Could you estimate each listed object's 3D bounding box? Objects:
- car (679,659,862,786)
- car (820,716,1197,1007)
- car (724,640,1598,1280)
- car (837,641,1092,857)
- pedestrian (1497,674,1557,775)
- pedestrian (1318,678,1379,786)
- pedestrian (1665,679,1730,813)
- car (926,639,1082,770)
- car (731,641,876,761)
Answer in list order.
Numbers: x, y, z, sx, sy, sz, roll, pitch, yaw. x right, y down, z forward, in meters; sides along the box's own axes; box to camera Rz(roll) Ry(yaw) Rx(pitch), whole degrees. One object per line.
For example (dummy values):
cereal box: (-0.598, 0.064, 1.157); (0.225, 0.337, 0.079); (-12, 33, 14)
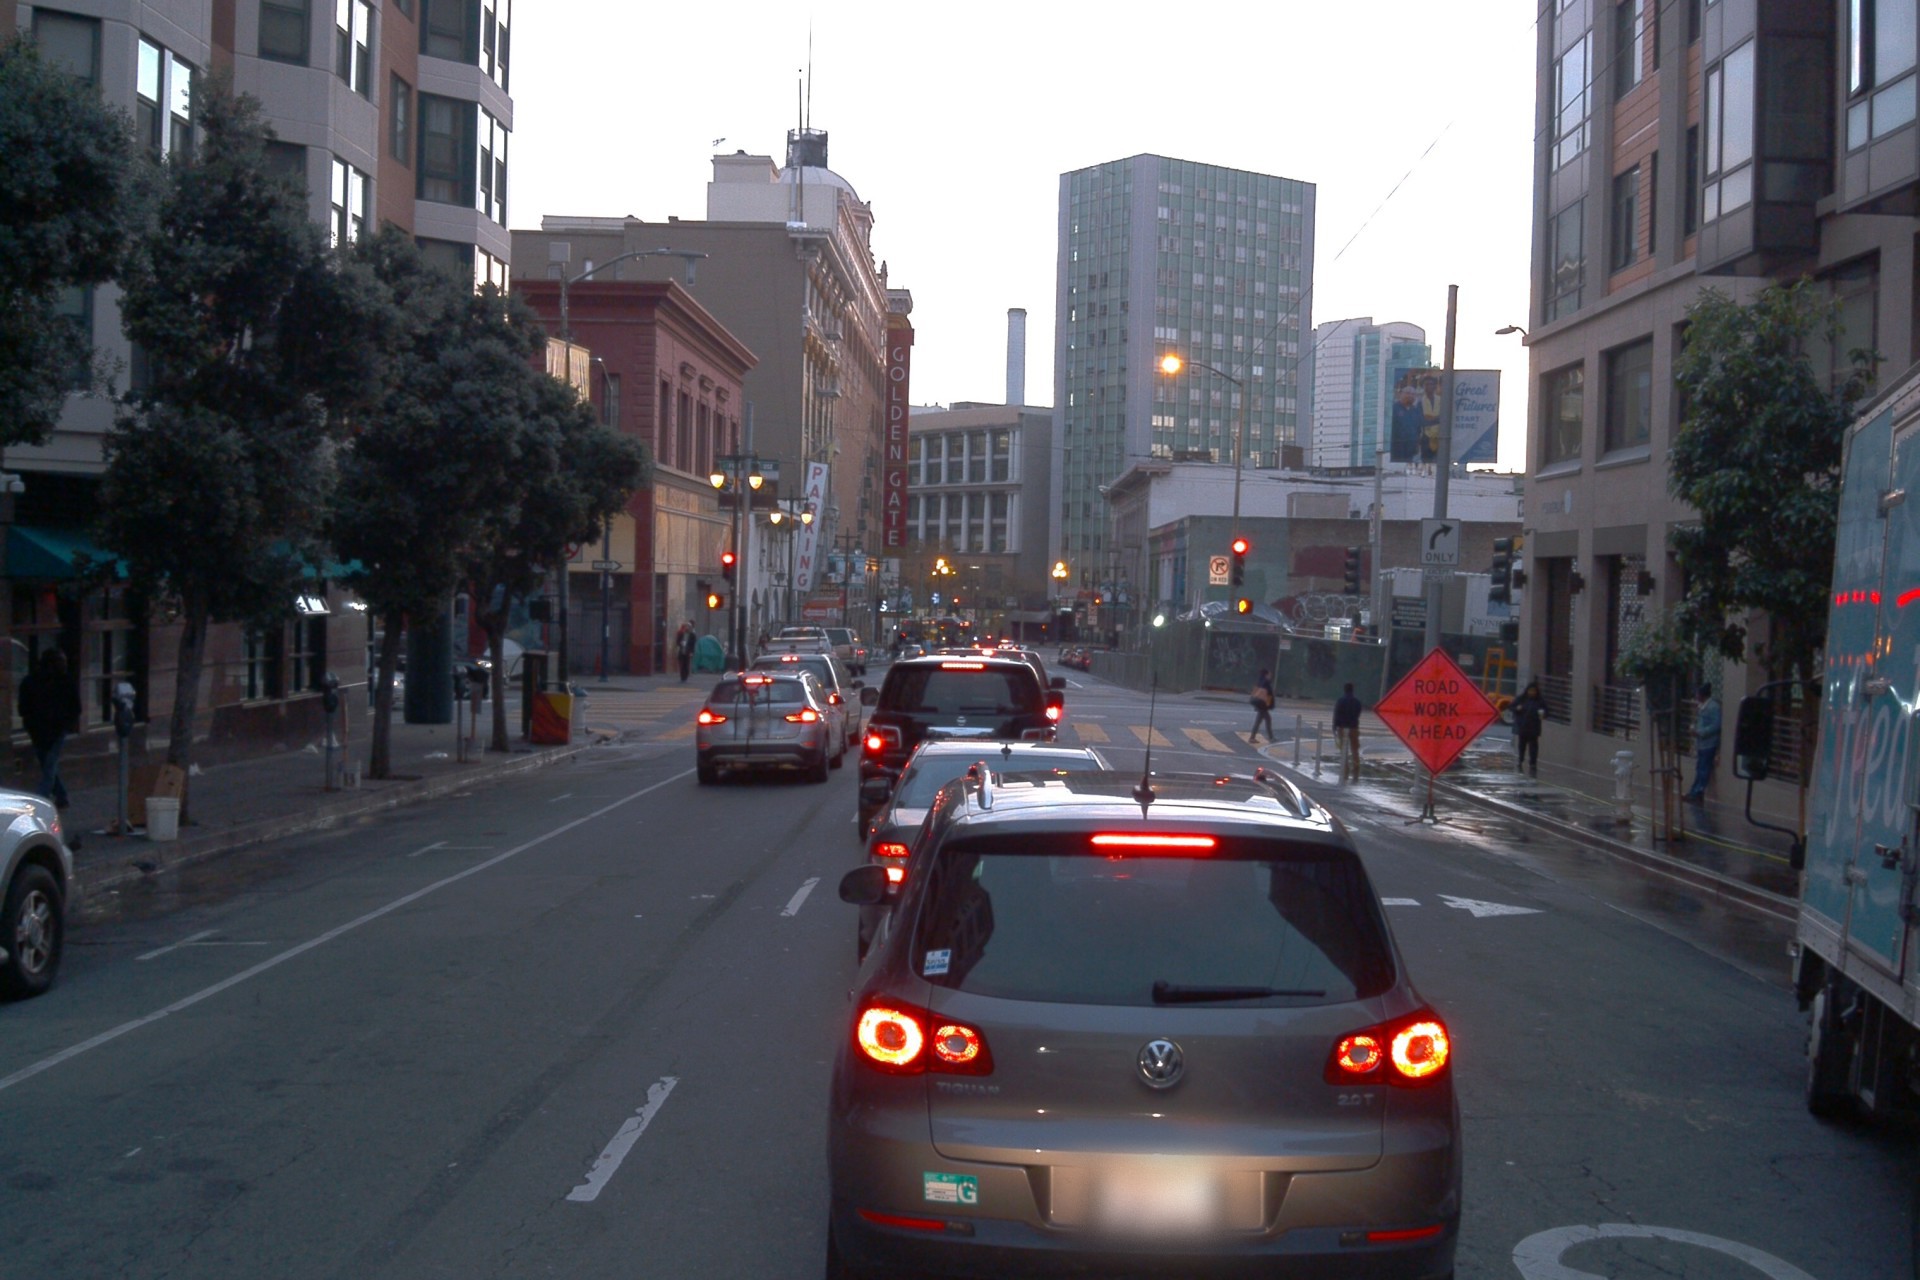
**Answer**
car: (-2.614, 1.111, 29.093); (2.110, 1.572, 4.118); (1, 1, 1)
car: (0.292, 1.324, 13.592); (2.089, 1.400, 4.279); (1, 1, 1)
car: (0.546, 1.063, 7.023); (2.109, 2.050, 3.981); (1, 1, 2)
car: (0.036, 1.029, 21.904); (2.368, 1.940, 5.339); (1, 1, 0)
pedestrian: (10.285, 1.519, 36.947); (0.879, 1.760, 0.904); (1, 1, 6)
pedestrian: (6.687, 1.577, 35.069); (0.777, 1.790, 0.924); (1, 1, -4)
pedestrian: (10.762, 1.534, 29.715); (0.659, 1.890, 0.755); (1, 1, 4)
car: (0.622, 0.856, 29.391); (2.036, 1.650, 4.678); (1, 1, 1)
car: (-2.657, 0.998, 35.547); (1.896, 1.880, 4.462); (1, 1, 4)
